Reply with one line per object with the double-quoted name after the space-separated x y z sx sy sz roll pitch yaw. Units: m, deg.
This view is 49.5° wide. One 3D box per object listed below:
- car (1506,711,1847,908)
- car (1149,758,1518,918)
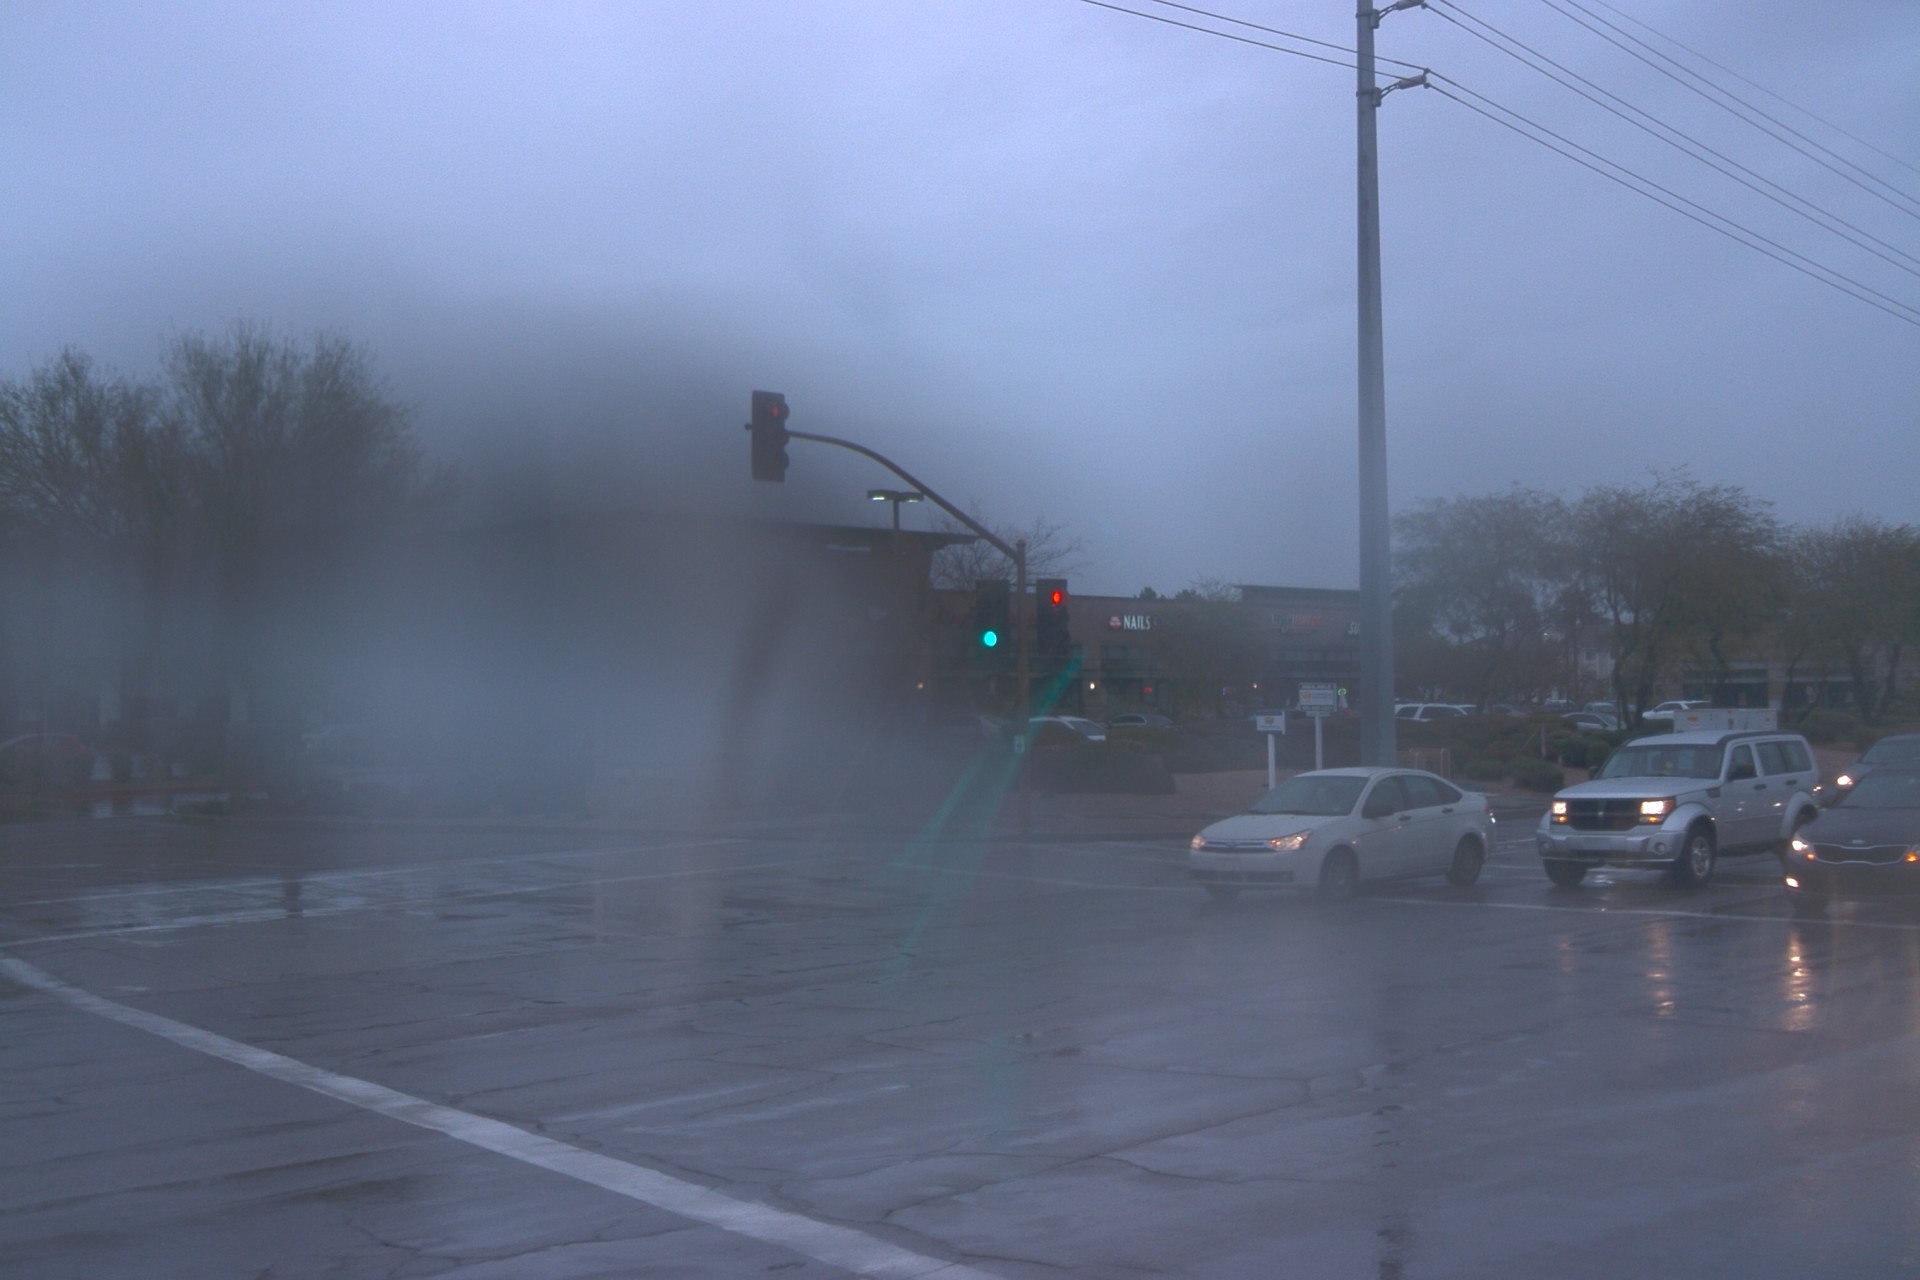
8.618 1.911 24.871 4.532 2.020 2.036 1 -1 -45 "car"
4.430 2.212 24.273 2.018 1.470 4.538 -1 -1 44 "car"
